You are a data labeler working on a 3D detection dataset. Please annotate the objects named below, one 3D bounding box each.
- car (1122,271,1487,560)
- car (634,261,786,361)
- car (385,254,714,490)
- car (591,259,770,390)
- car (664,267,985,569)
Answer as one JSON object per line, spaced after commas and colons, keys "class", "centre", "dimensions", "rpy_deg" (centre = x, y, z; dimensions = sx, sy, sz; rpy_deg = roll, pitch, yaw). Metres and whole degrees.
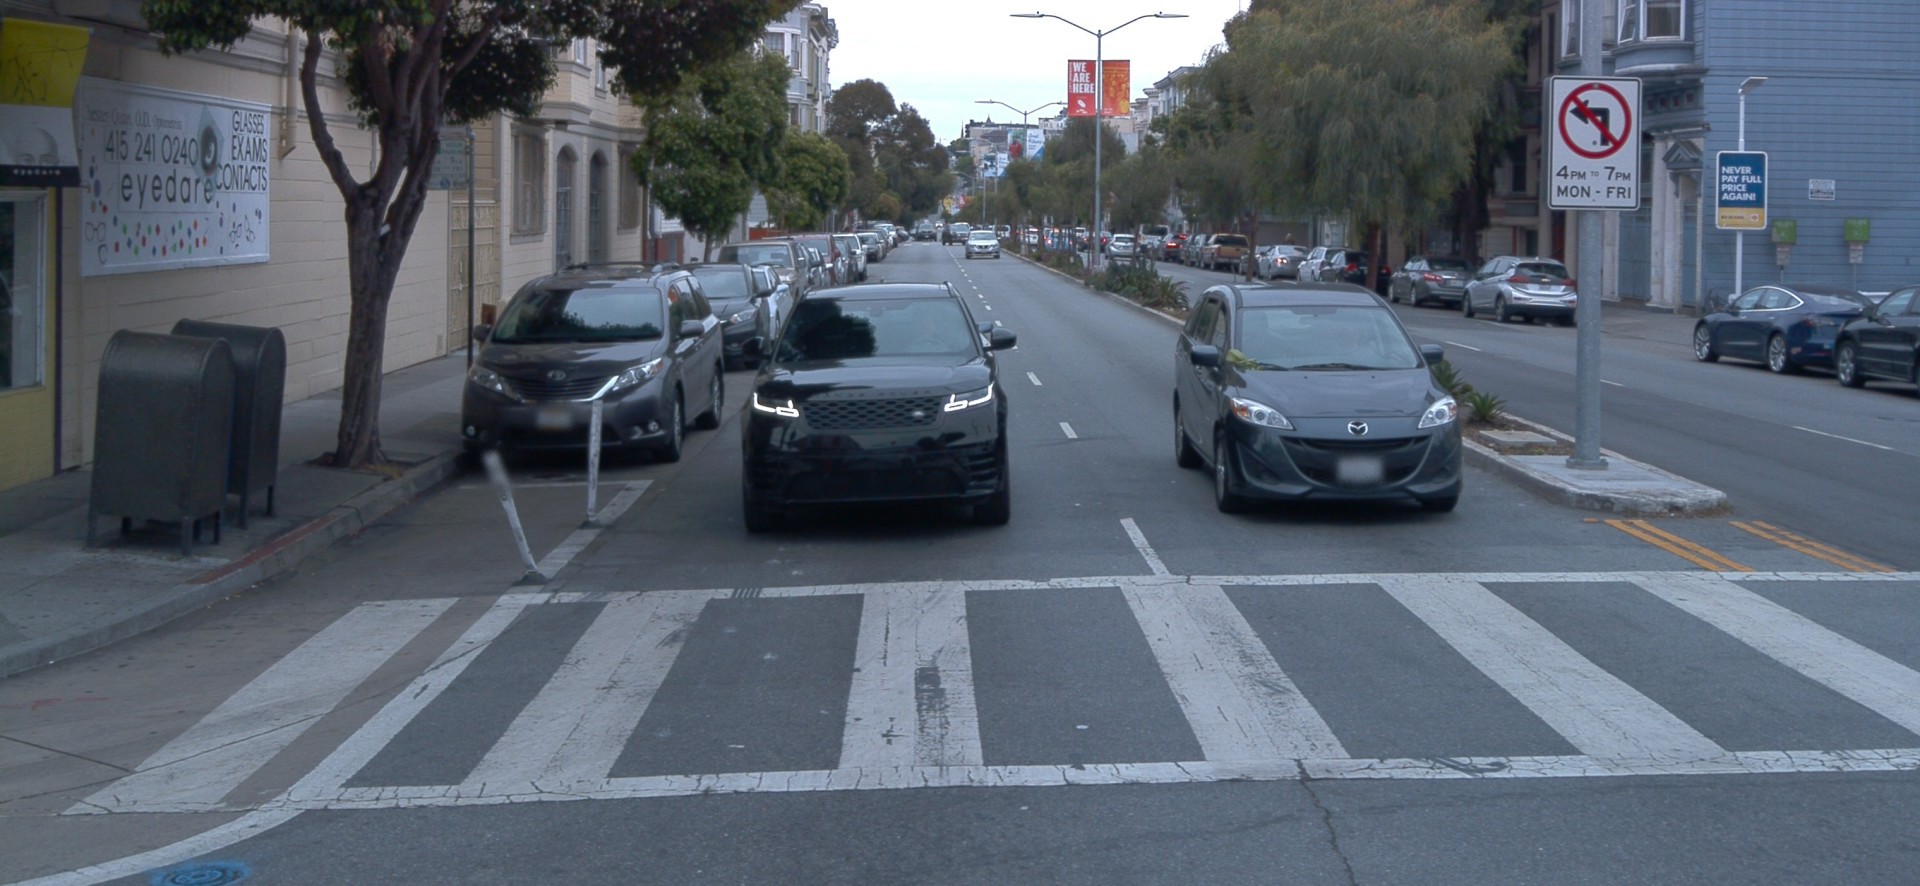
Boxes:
{"class": "car", "centre": [2.519, -0.384, 16.304], "dimensions": [2.058, 1.779, 4.739], "rpy_deg": [0, 6, -1]}
{"class": "car", "centre": [-4.360, -2.403, 36.669], "dimensions": [2.182, 1.516, 4.658], "rpy_deg": [0, 6, -1]}
{"class": "car", "centre": [-3.906, -0.858, 20.663], "dimensions": [2.239, 1.919, 5.191], "rpy_deg": [0, 6, 0]}
{"class": "car", "centre": [-4.229, -1.902, 31.910], "dimensions": [2.127, 1.741, 4.524], "rpy_deg": [0, 6, 0]}
{"class": "car", "centre": [-0.882, -0.365, 15.899], "dimensions": [2.095, 1.820, 4.698], "rpy_deg": [0, 6, 0]}
